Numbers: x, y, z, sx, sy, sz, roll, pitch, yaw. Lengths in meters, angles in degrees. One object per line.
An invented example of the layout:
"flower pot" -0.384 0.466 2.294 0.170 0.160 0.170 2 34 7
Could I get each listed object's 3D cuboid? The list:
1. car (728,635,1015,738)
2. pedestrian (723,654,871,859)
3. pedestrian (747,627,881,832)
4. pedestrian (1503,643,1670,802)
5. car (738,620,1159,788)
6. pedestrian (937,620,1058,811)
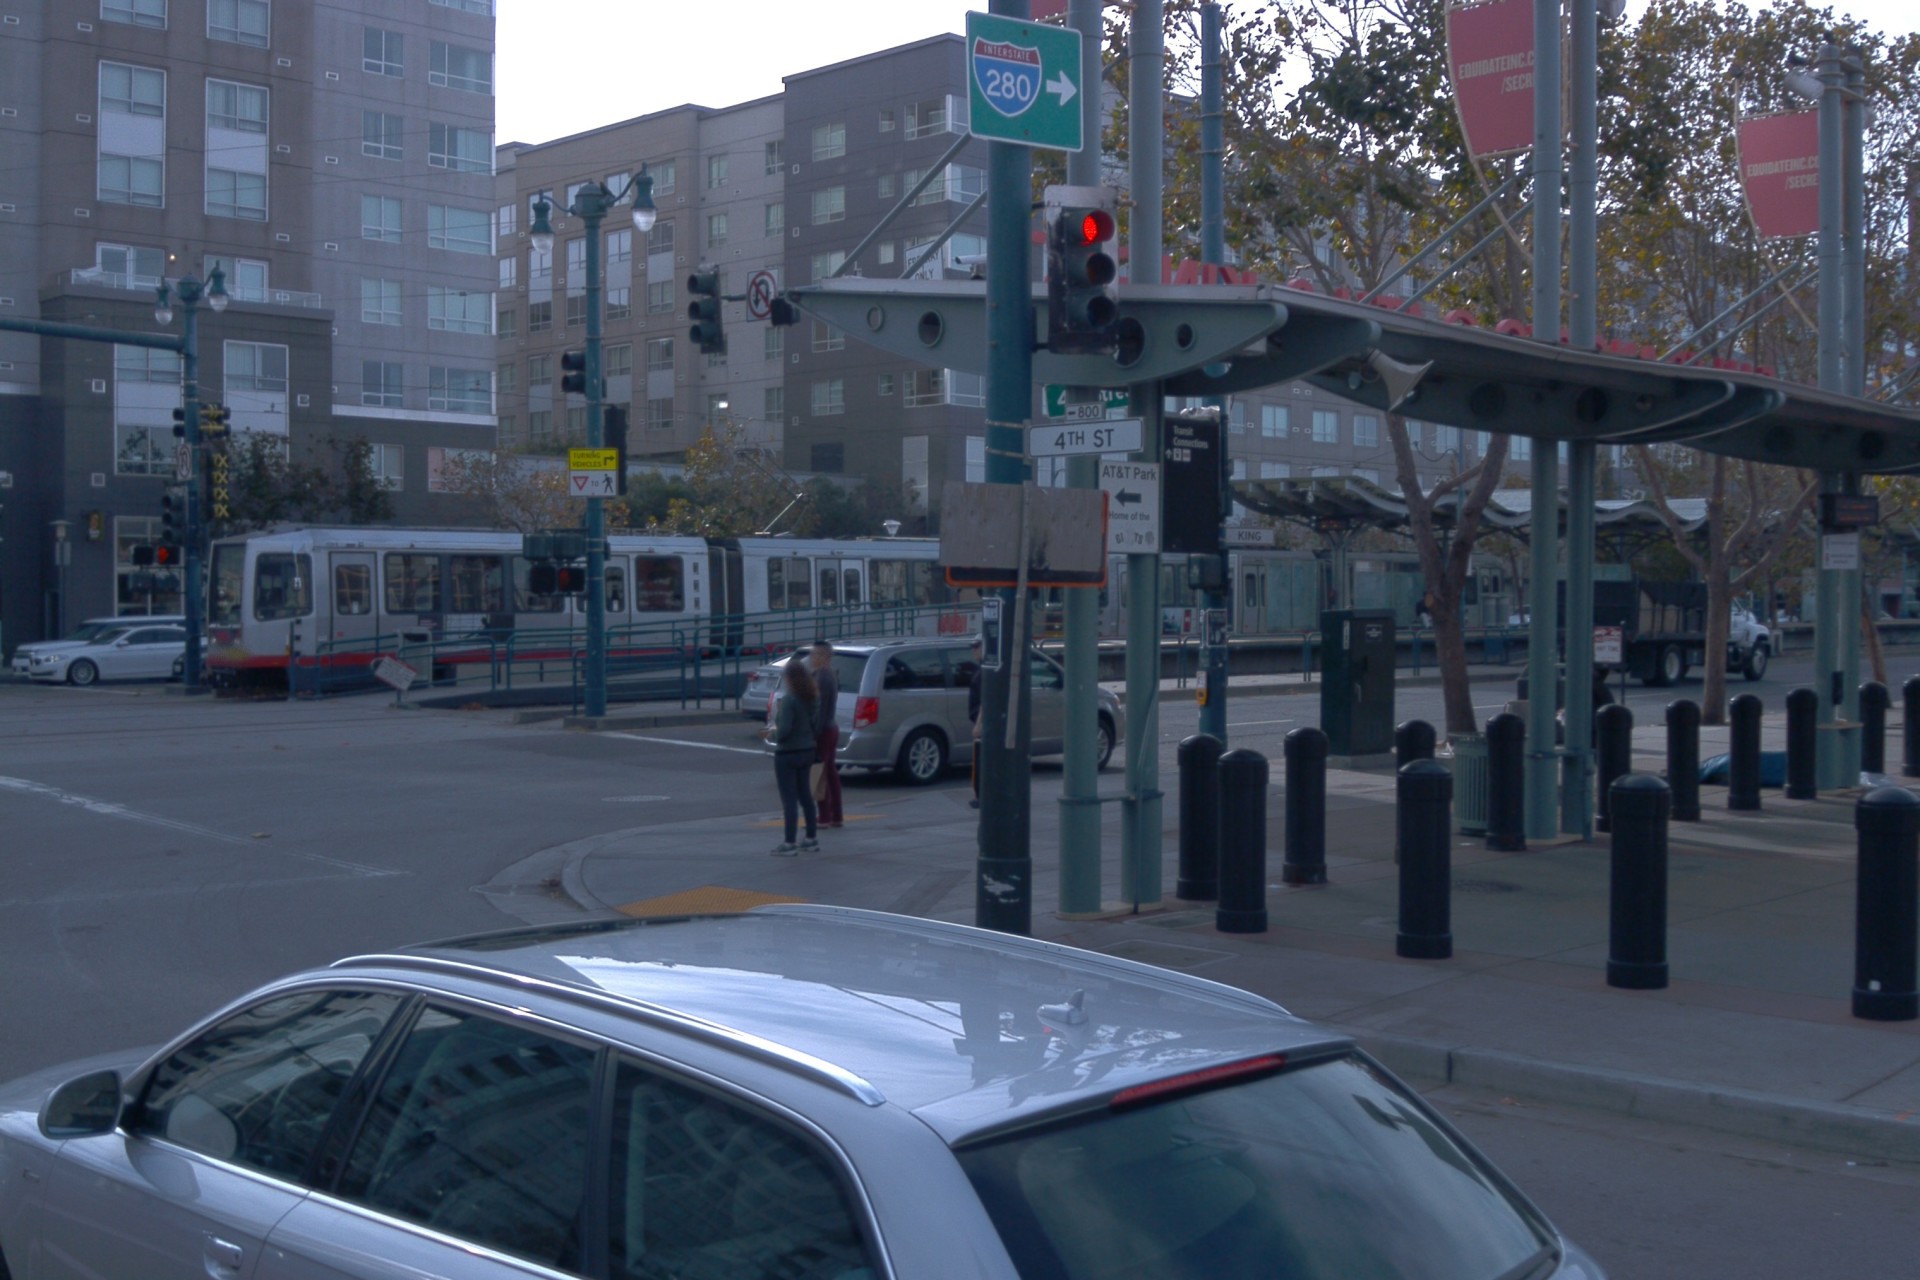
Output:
"car" -1.321 0.699 32.404 1.887 1.491 4.382 1 0 44
"pedestrian" -1.367 0.947 17.336 1.016 1.642 0.678 1 0 37
"pedestrian" -1.335 0.804 19.047 0.980 1.819 0.928 1 0 12
"pedestrian" 6.638 0.852 21.968 1.218 1.605 1.168 1 0 -35
"car" -0.036 0.755 26.165 2.289 1.897 5.227 1 0 44
"pedestrian" 0.381 0.738 20.824 0.867 1.858 0.865 1 0 31
